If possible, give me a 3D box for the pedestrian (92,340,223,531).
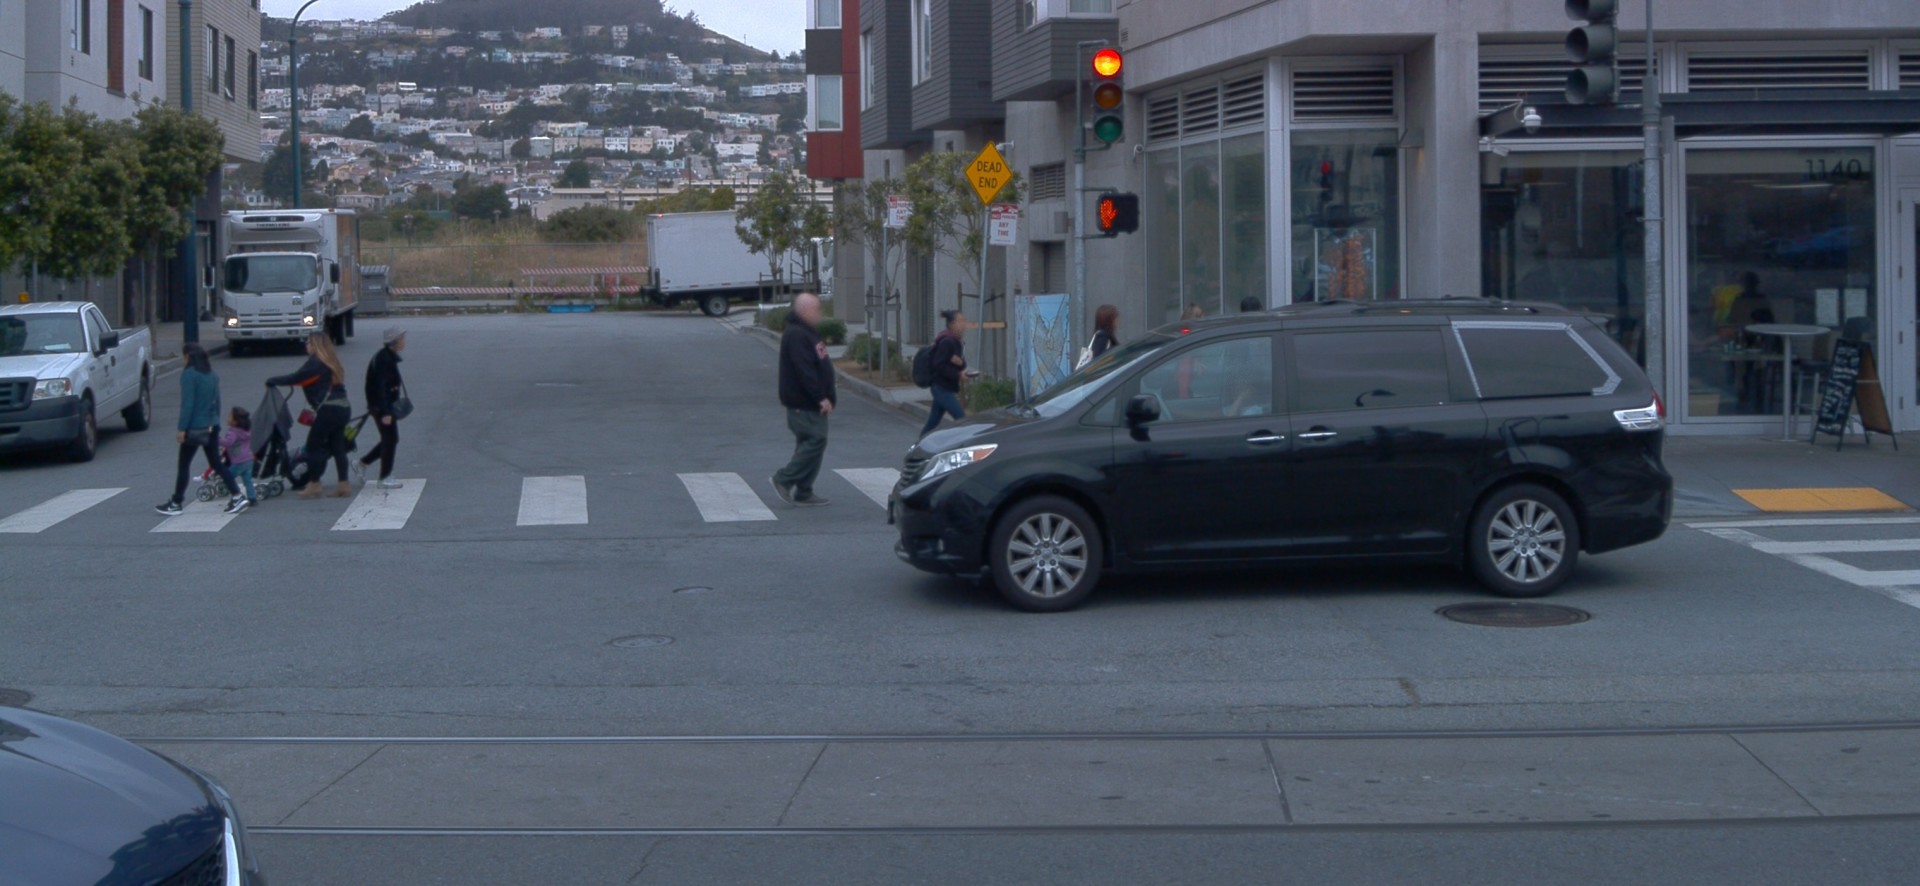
[{"bbox_3d":[-6.963,-0.083,17.931,0.803,1.580,0.753,0,2,3],"label":"pedestrian"}]

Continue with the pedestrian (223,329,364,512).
[{"bbox_3d":[-6.141,-0.220,19.030,1.023,1.610,0.730,0,2,4],"label":"pedestrian"}]

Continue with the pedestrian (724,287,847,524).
[{"bbox_3d":[-1.467,-0.345,17.364,0.986,1.896,0.913,0,2,-5],"label":"pedestrian"}]

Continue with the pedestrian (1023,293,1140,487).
[{"bbox_3d":[1.145,-0.516,19.301,0.984,1.729,0.784,0,2,12],"label":"pedestrian"}]

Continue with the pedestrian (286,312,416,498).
[{"bbox_3d":[-5.804,-0.381,19.694,0.981,1.687,0.812,0,2,0],"label":"pedestrian"}]

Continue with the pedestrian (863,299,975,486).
[{"bbox_3d":[-0.389,-0.509,20.004,0.985,1.727,0.864,0,2,5],"label":"pedestrian"}]

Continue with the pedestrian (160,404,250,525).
[{"bbox_3d":[-6.751,0.184,18.449,0.599,1.021,0.494,0,2,2],"label":"pedestrian"}]

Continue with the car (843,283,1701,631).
[{"bbox_3d":[1.800,-0.014,13.111,5.054,1.874,2.168,-1,4,-4],"label":"car"}]
